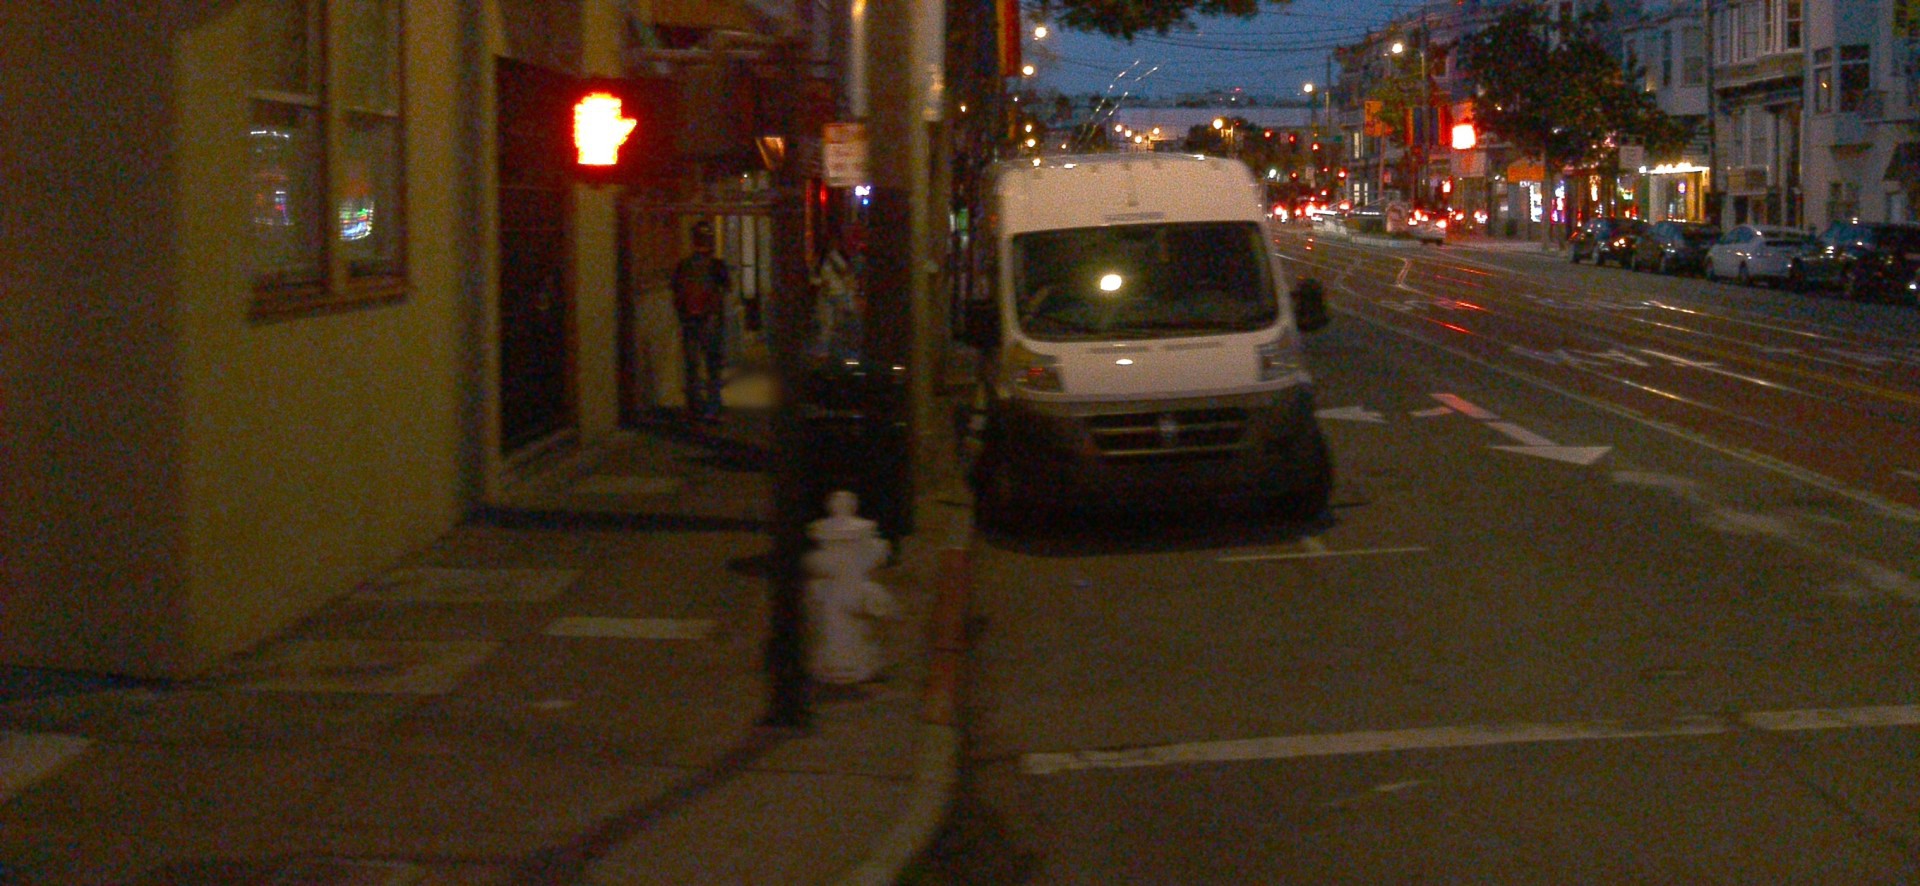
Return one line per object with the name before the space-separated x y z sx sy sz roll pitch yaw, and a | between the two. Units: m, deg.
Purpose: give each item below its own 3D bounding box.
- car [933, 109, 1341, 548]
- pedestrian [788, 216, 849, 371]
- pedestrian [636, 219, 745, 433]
car | 1.068 -1.006 15.564 2.498 2.719 5.548 0 5 -1
pedestrian | -1.665 -1.780 24.290 0.674 1.797 0.848 0 2 -2
pedestrian | -2.399 -1.066 18.410 0.826 1.867 0.871 0 2 2
